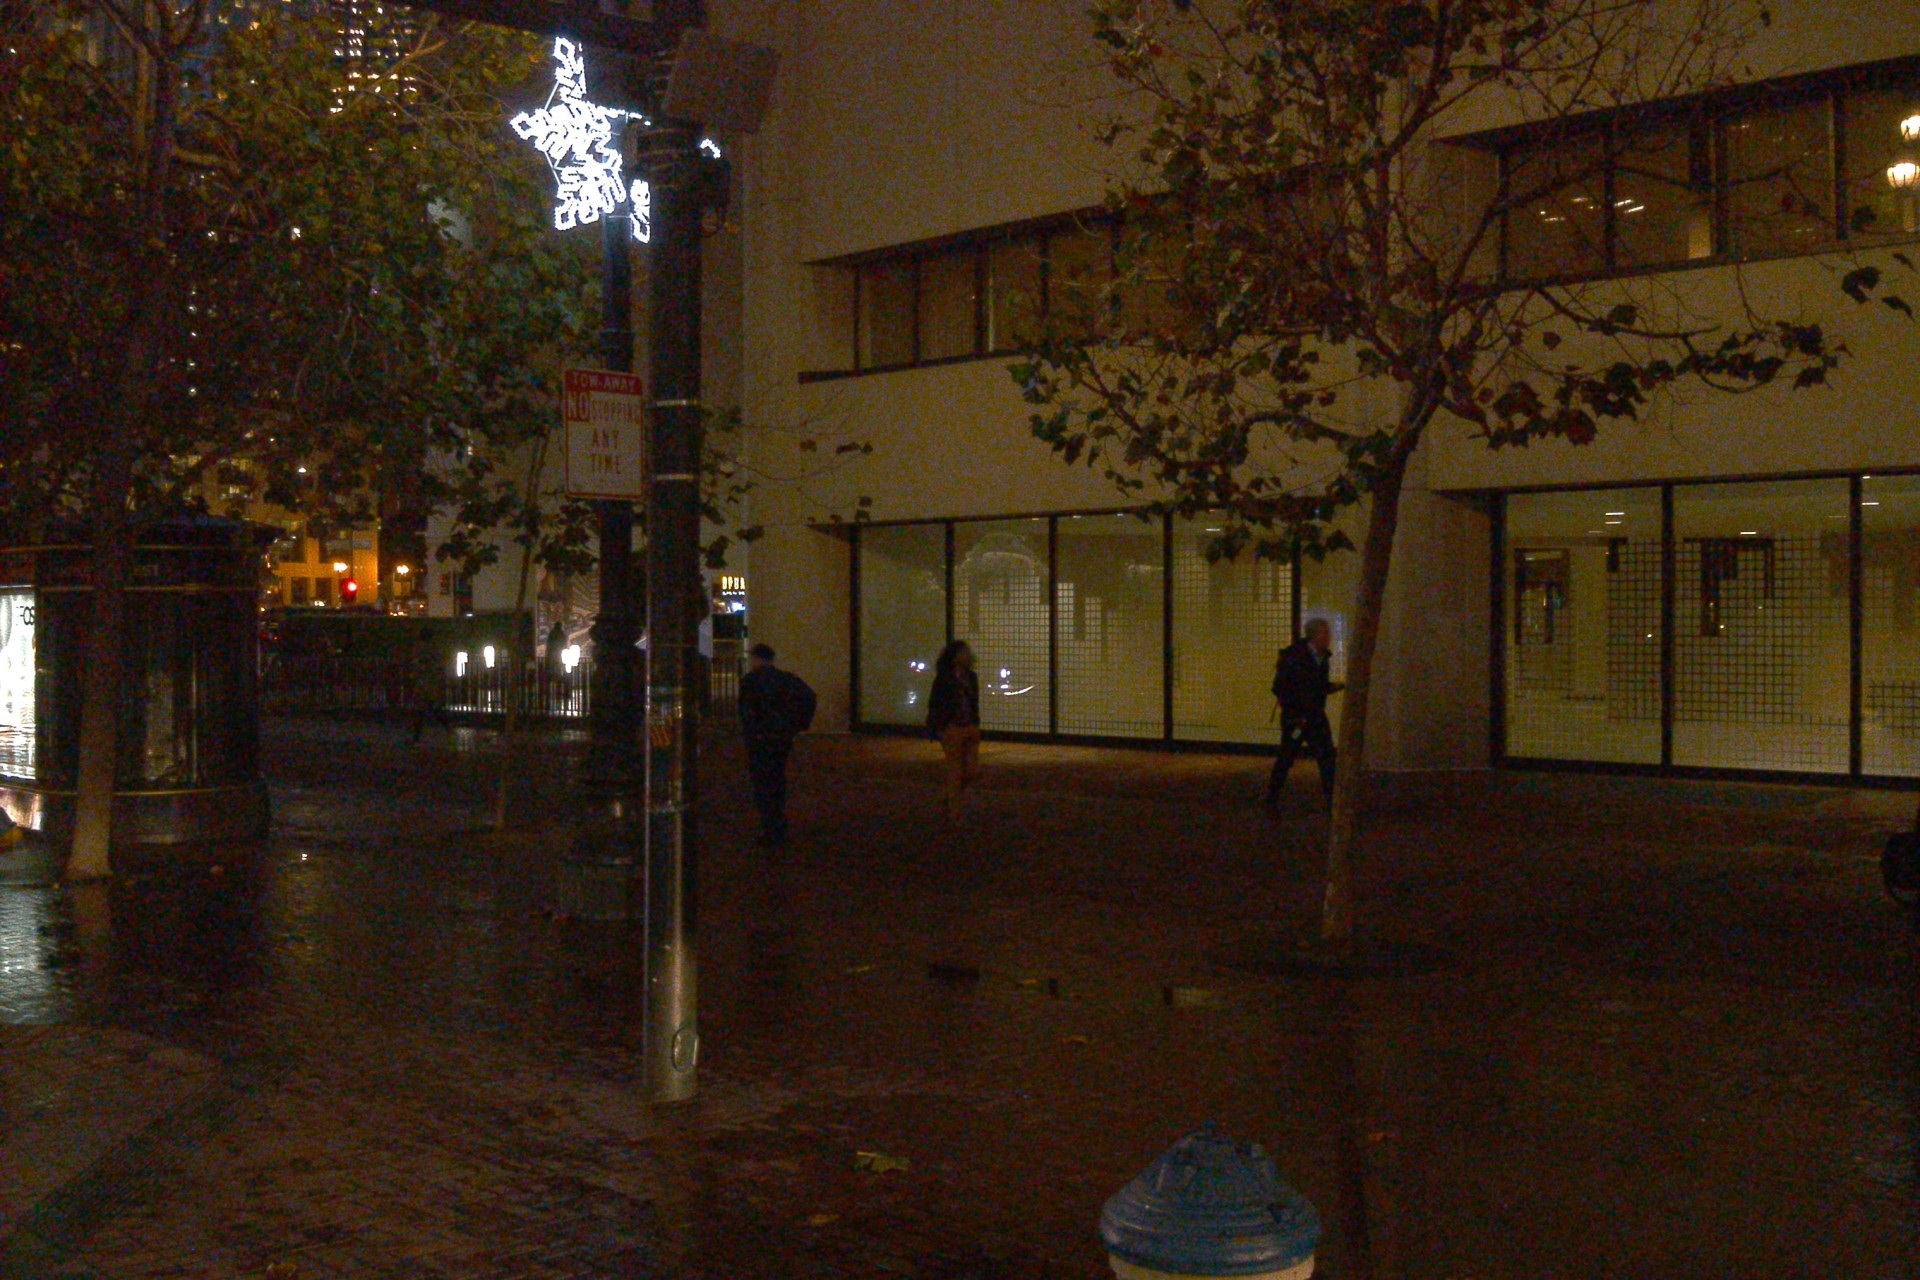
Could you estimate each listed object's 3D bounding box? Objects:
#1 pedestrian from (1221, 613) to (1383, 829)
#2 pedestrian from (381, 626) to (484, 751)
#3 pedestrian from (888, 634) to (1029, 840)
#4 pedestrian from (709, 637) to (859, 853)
[{"bbox_3d":[3.010,0.689,18.074,0.841,1.830,1.114,1,0,-38],"label":"pedestrian"},{"bbox_3d":[-7.198,0.647,27.945,1.061,1.670,0.918,0,0,44],"label":"pedestrian"},{"bbox_3d":[-0.016,0.843,18.371,0.729,1.780,1.050,1,0,-44],"label":"pedestrian"},{"bbox_3d":[-1.527,0.873,17.653,0.860,1.780,1.103,1,0,-32],"label":"pedestrian"}]
